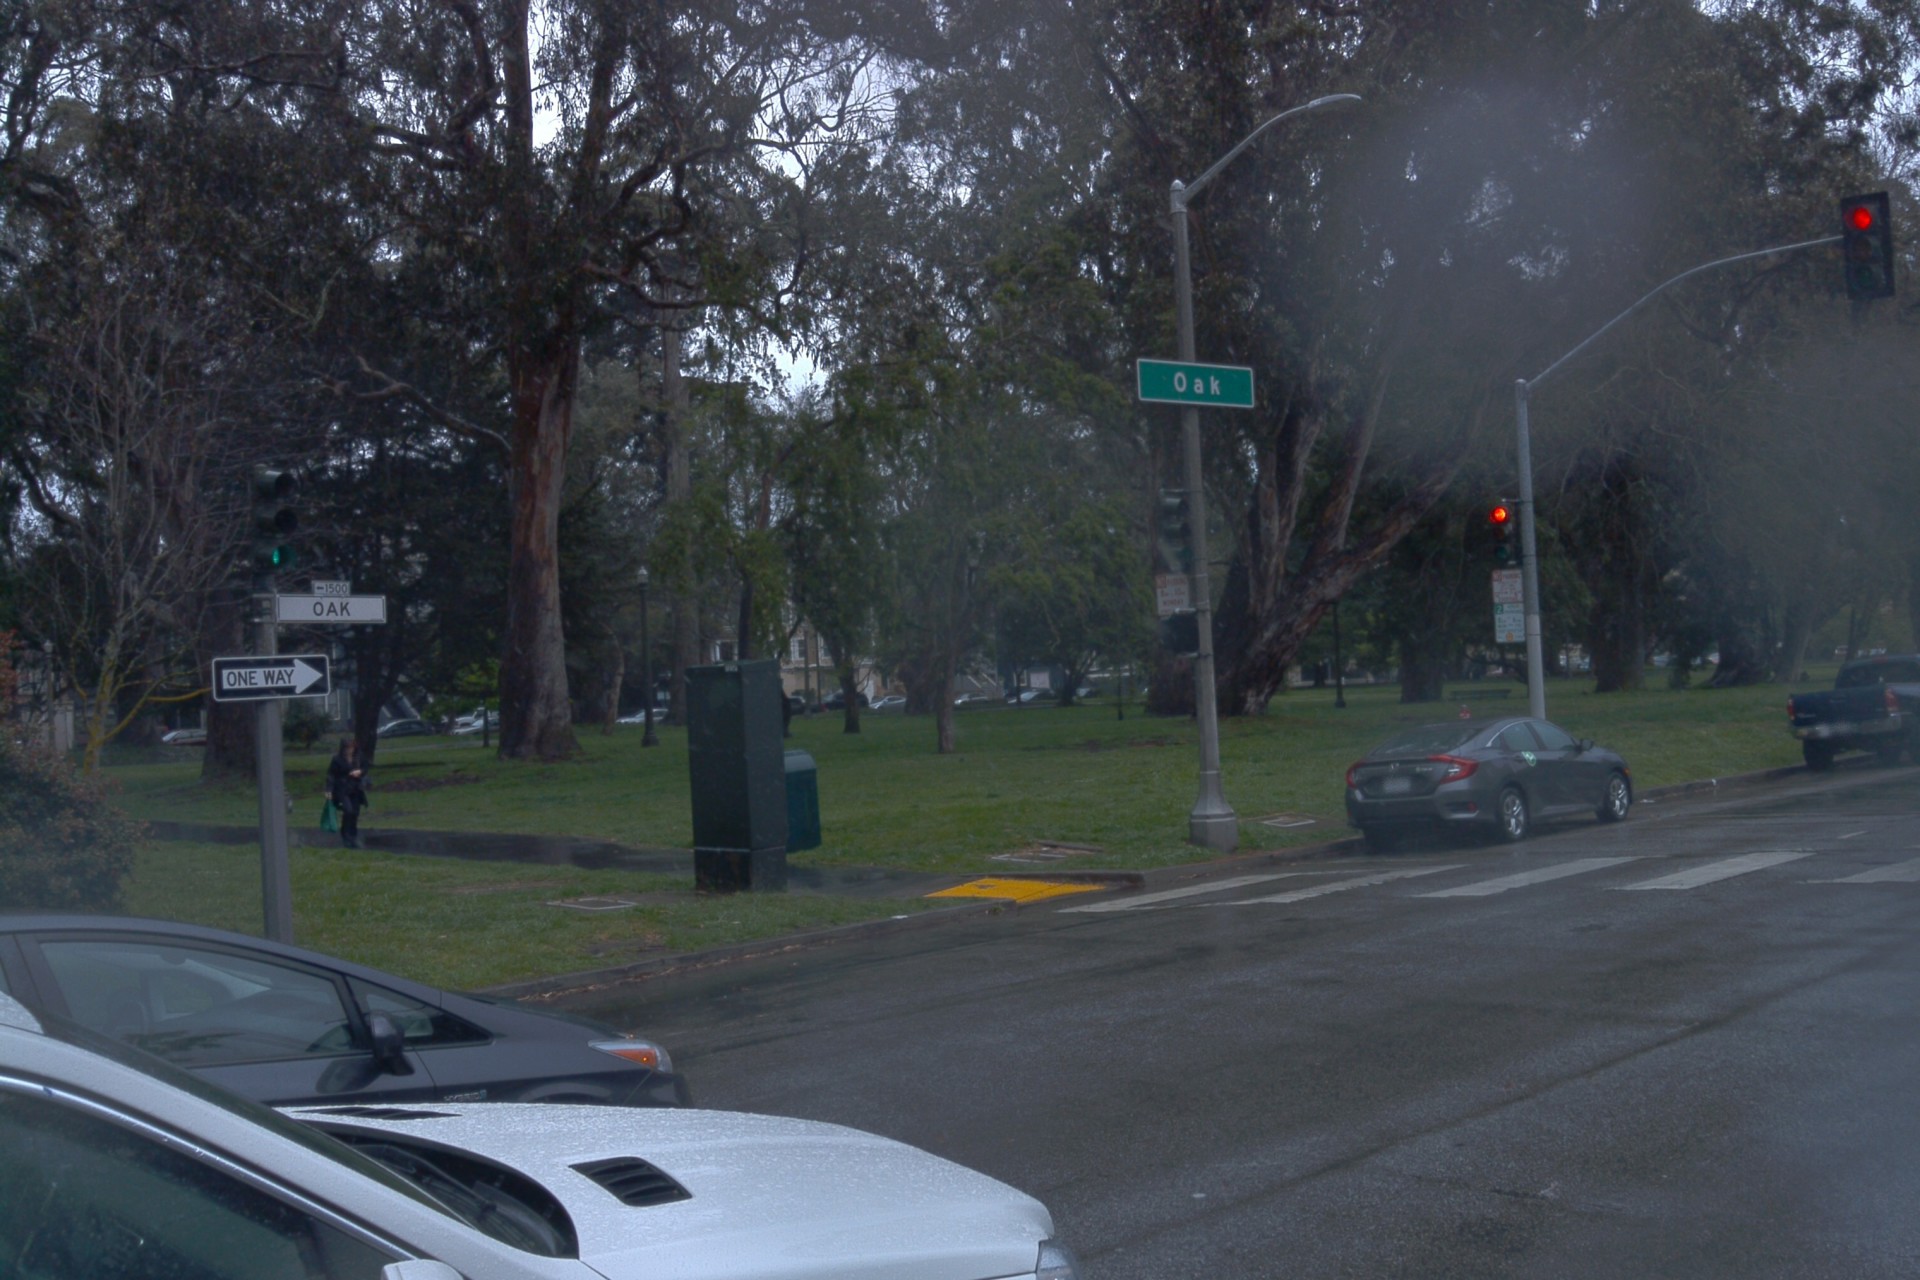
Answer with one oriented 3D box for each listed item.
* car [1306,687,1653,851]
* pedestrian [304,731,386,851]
[{"bbox_3d":[6.192,1.418,24.127,2.031,1.540,4.554,1,2,42],"label":"car"},{"bbox_3d":[-8.499,2.069,28.370,0.835,1.560,0.722,-1,2,-44],"label":"pedestrian"}]
